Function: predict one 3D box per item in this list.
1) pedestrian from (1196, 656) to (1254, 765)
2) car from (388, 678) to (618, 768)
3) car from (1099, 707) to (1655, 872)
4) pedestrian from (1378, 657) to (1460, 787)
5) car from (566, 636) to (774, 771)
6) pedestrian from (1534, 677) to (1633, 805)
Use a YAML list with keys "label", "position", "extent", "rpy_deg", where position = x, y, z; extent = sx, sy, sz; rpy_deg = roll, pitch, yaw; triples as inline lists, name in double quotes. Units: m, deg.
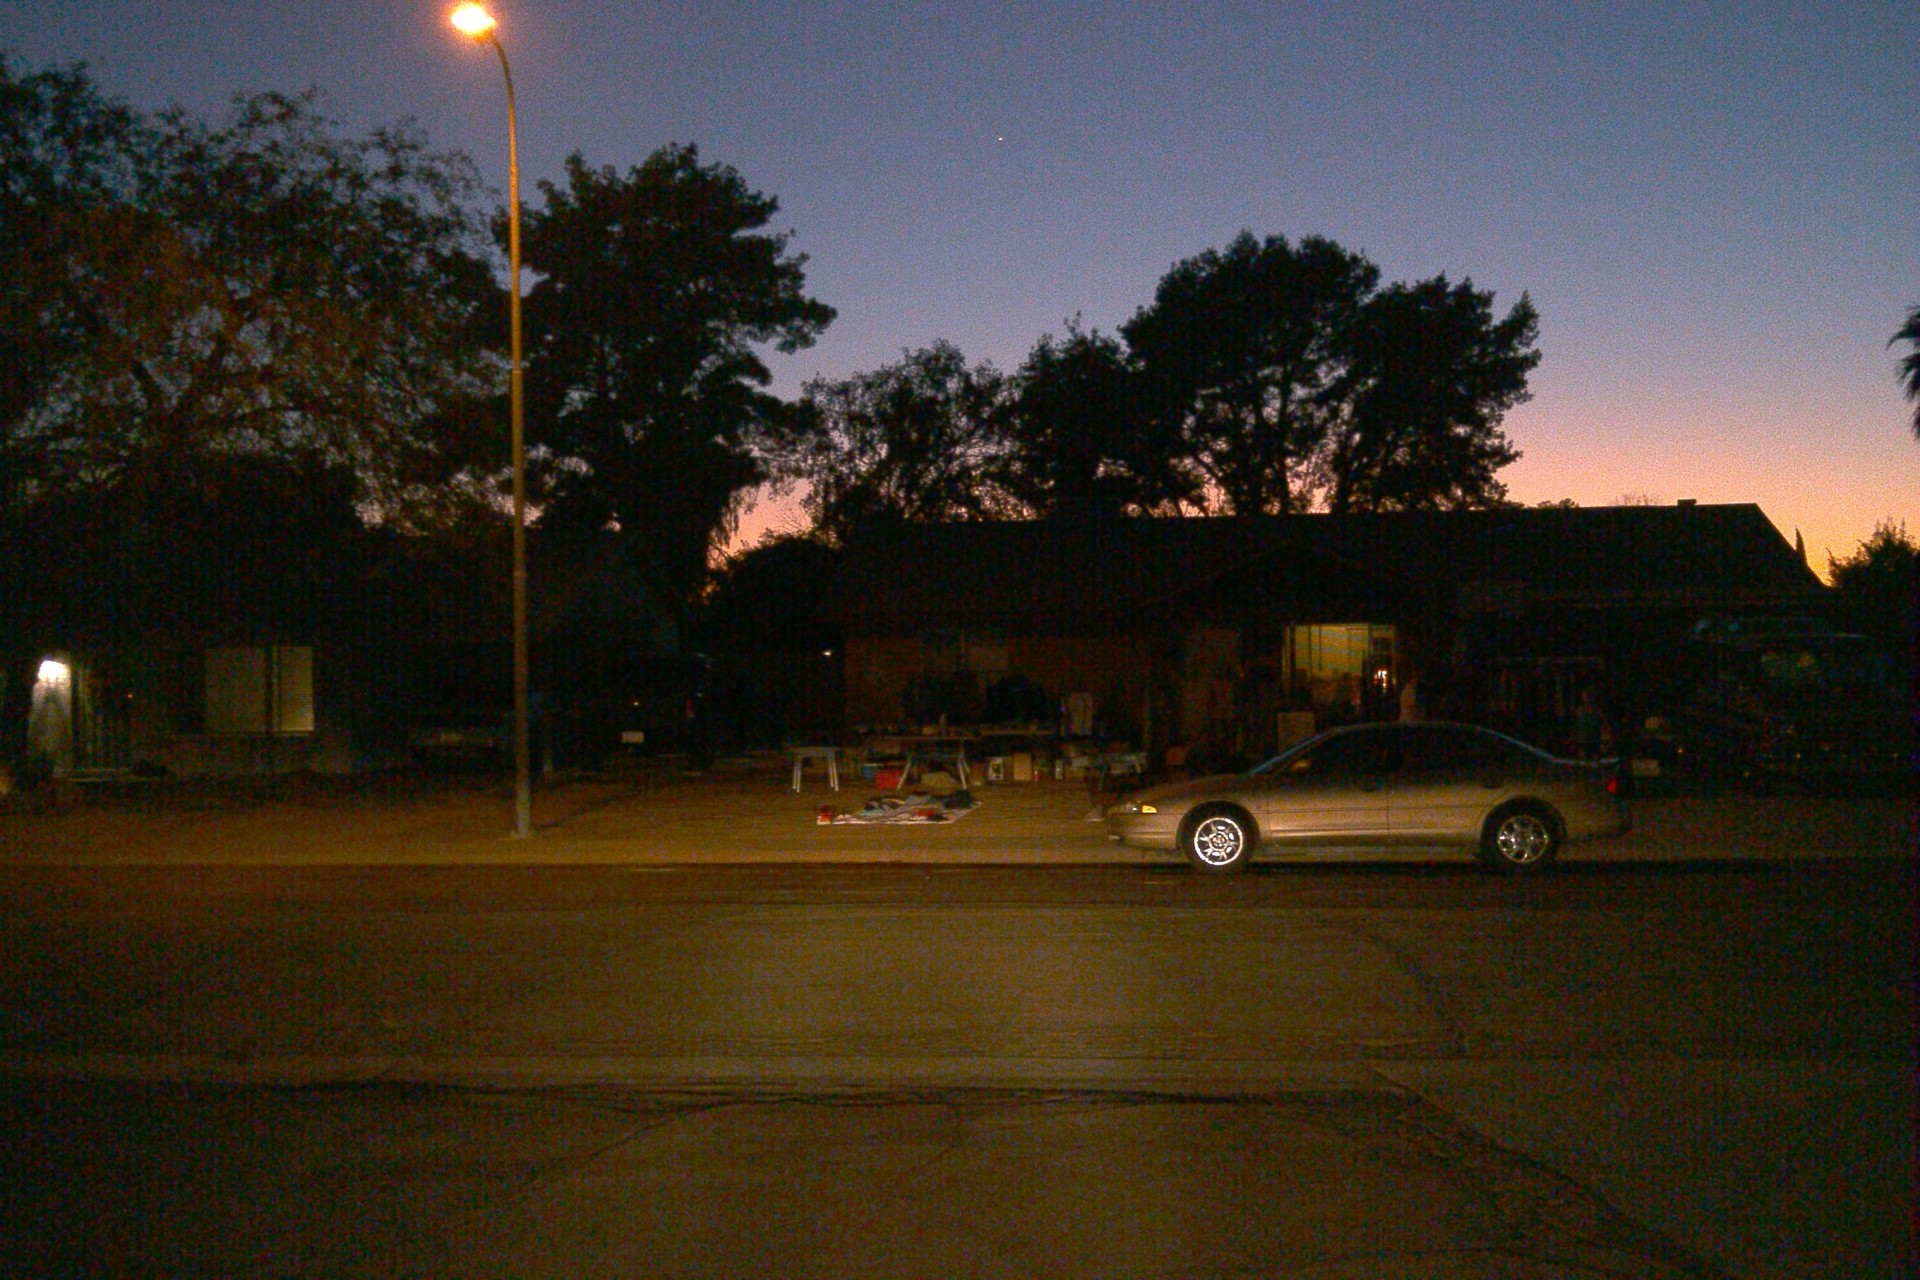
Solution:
- label: "pedestrian"
  position: [4.056, 1.068, 31.800]
  extent: [0.813, 1.640, 0.646]
  rpy_deg: [0, -1, 13]
- label: "car"
  position: [-7.531, 1.342, 34.724]
  extent: [2.220, 1.390, 4.280]
  rpy_deg: [0, -1, 11]
- label: "car"
  position: [3.942, 1.409, 20.338]
  extent: [5.058, 1.450, 2.235]
  rpy_deg: [0, -1, 6]
- label: "pedestrian"
  position: [6.111, 1.076, 27.692]
  extent: [0.835, 1.690, 0.831]
  rpy_deg: [0, -1, 33]
- label: "car"
  position: [-4.696, 1.019, 34.676]
  extent: [2.351, 2.050, 5.998]
  rpy_deg: [0, -1, 3]
- label: "pedestrian"
  position: [7.630, 1.225, 25.476]
  extent: [0.833, 1.540, 0.879]
  rpy_deg: [0, -1, -13]
